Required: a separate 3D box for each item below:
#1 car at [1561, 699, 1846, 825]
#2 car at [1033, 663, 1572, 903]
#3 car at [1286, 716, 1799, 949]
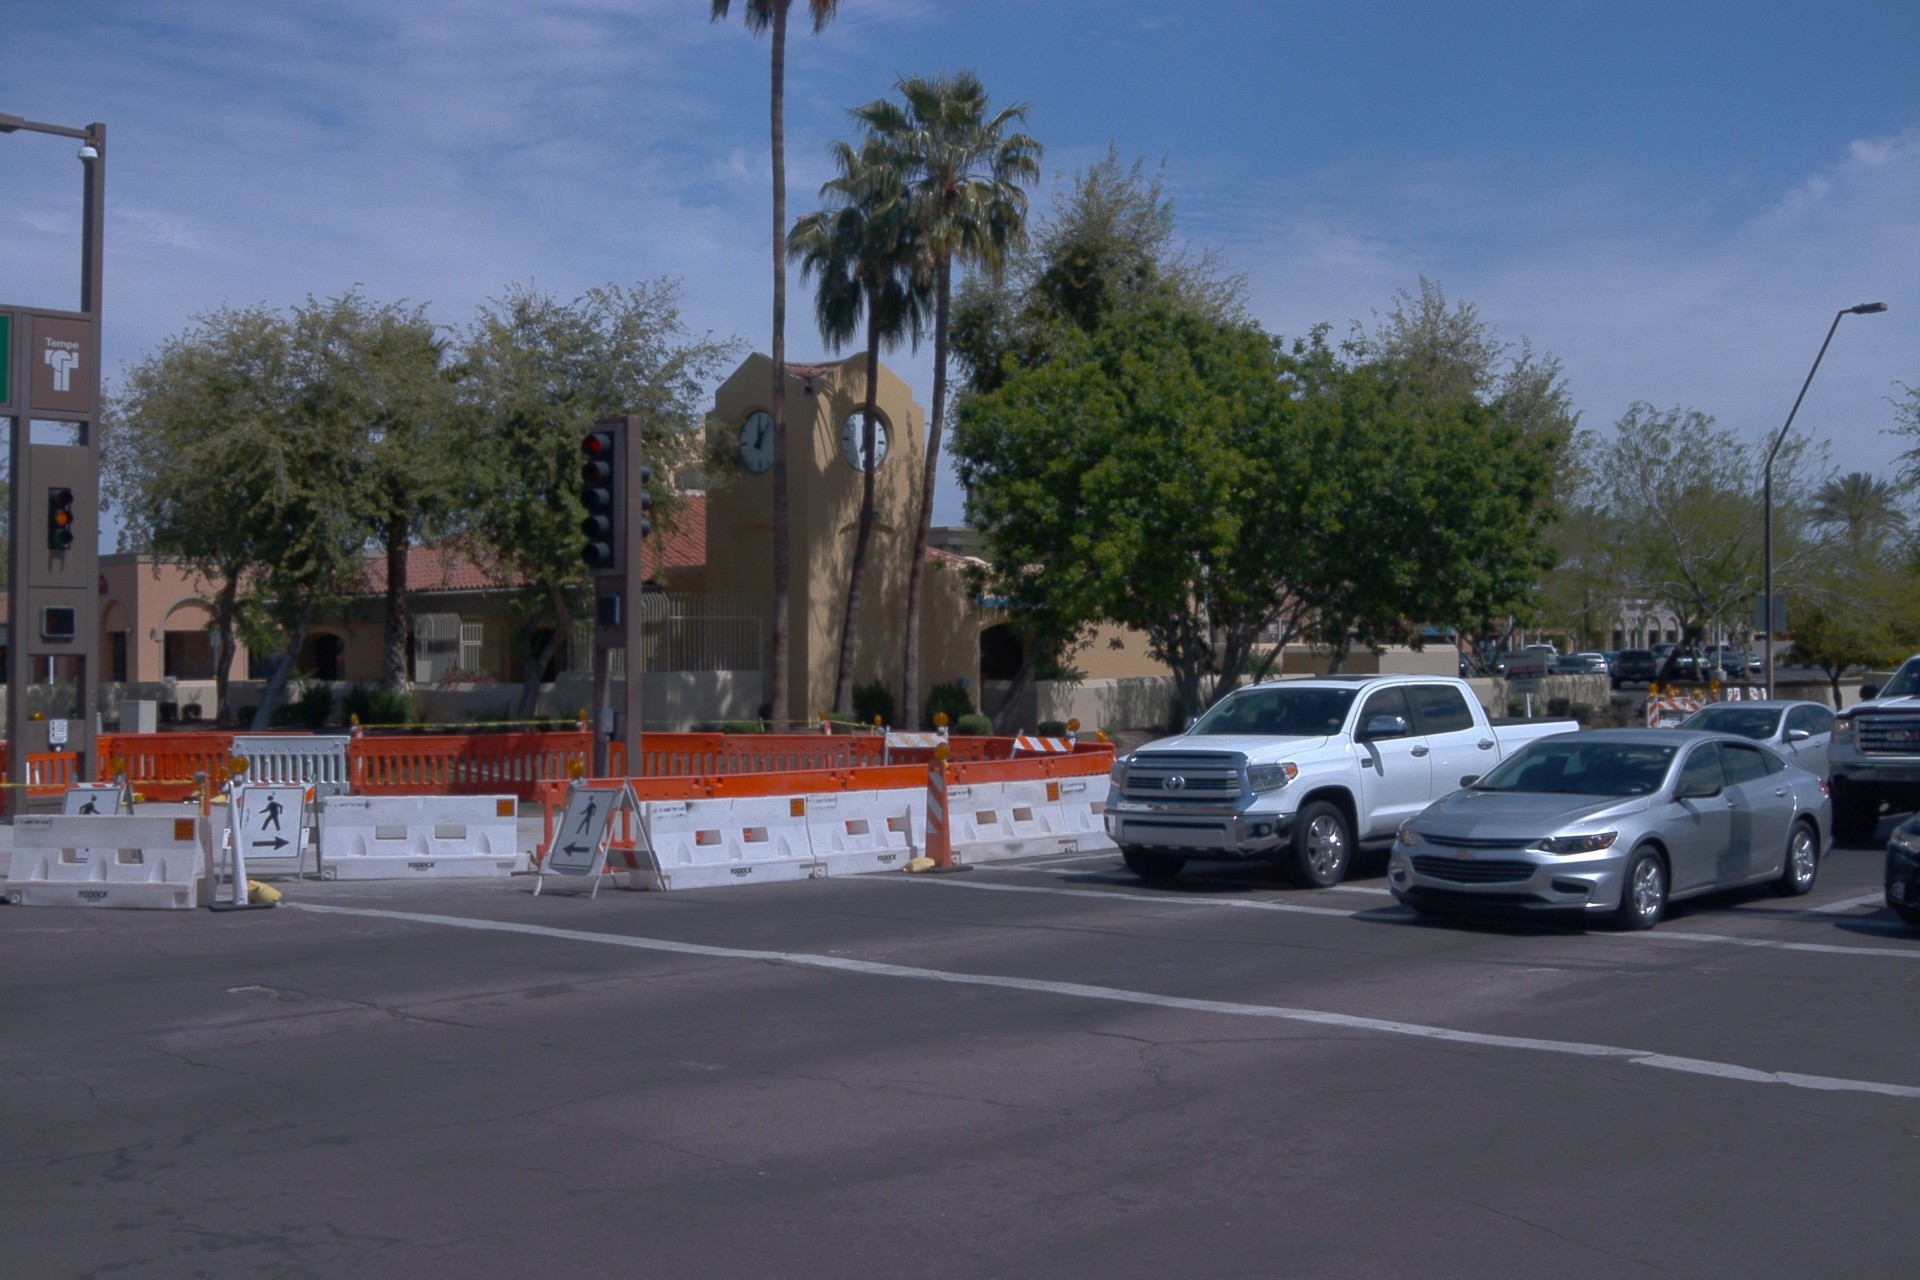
[{"bbox_3d":[10.197,1.594,28.151,2.028,1.470,4.384,0,0,44],"label":"car"},{"bbox_3d":[3.617,1.269,20.819,2.455,2.050,5.851,0,0,44],"label":"car"},{"bbox_3d":[5.002,1.479,17.311,2.141,1.530,4.744,0,0,44],"label":"car"}]
